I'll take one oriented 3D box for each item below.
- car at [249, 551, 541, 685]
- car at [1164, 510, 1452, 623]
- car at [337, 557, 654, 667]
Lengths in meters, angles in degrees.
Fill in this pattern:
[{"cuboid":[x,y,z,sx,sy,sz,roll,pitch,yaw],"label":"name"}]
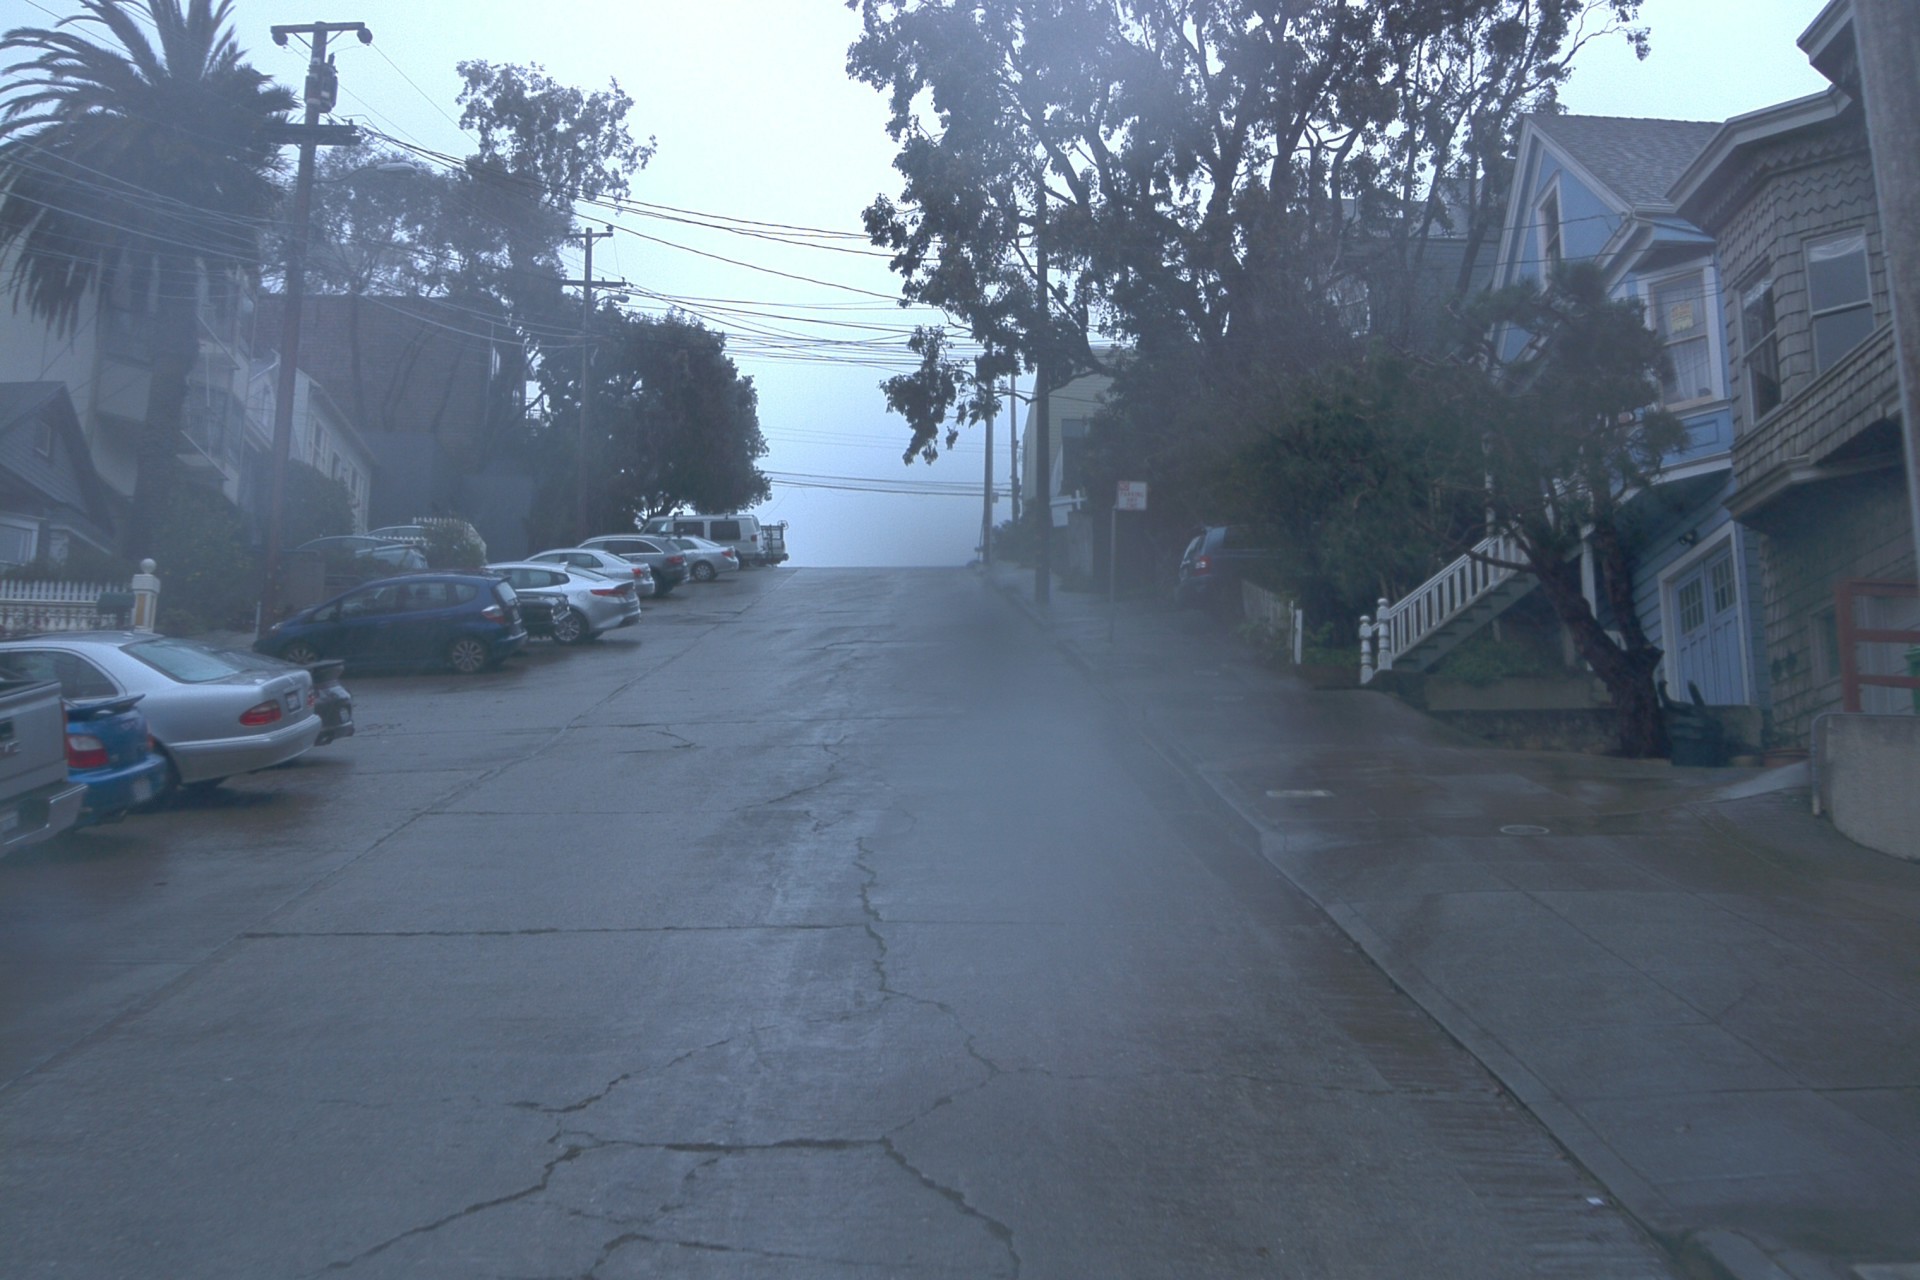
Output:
[{"cuboid":[-8.505,-0.317,31.450,3.852,1.970,2.105,0,0,1],"label":"car"},{"cuboid":[5.878,-1.218,35.325,4.464,1.836,2.041,0,0,-5],"label":"car"},{"cuboid":[-8.162,-0.475,36.696,5.067,1.890,2.226,0,0,4],"label":"car"}]
